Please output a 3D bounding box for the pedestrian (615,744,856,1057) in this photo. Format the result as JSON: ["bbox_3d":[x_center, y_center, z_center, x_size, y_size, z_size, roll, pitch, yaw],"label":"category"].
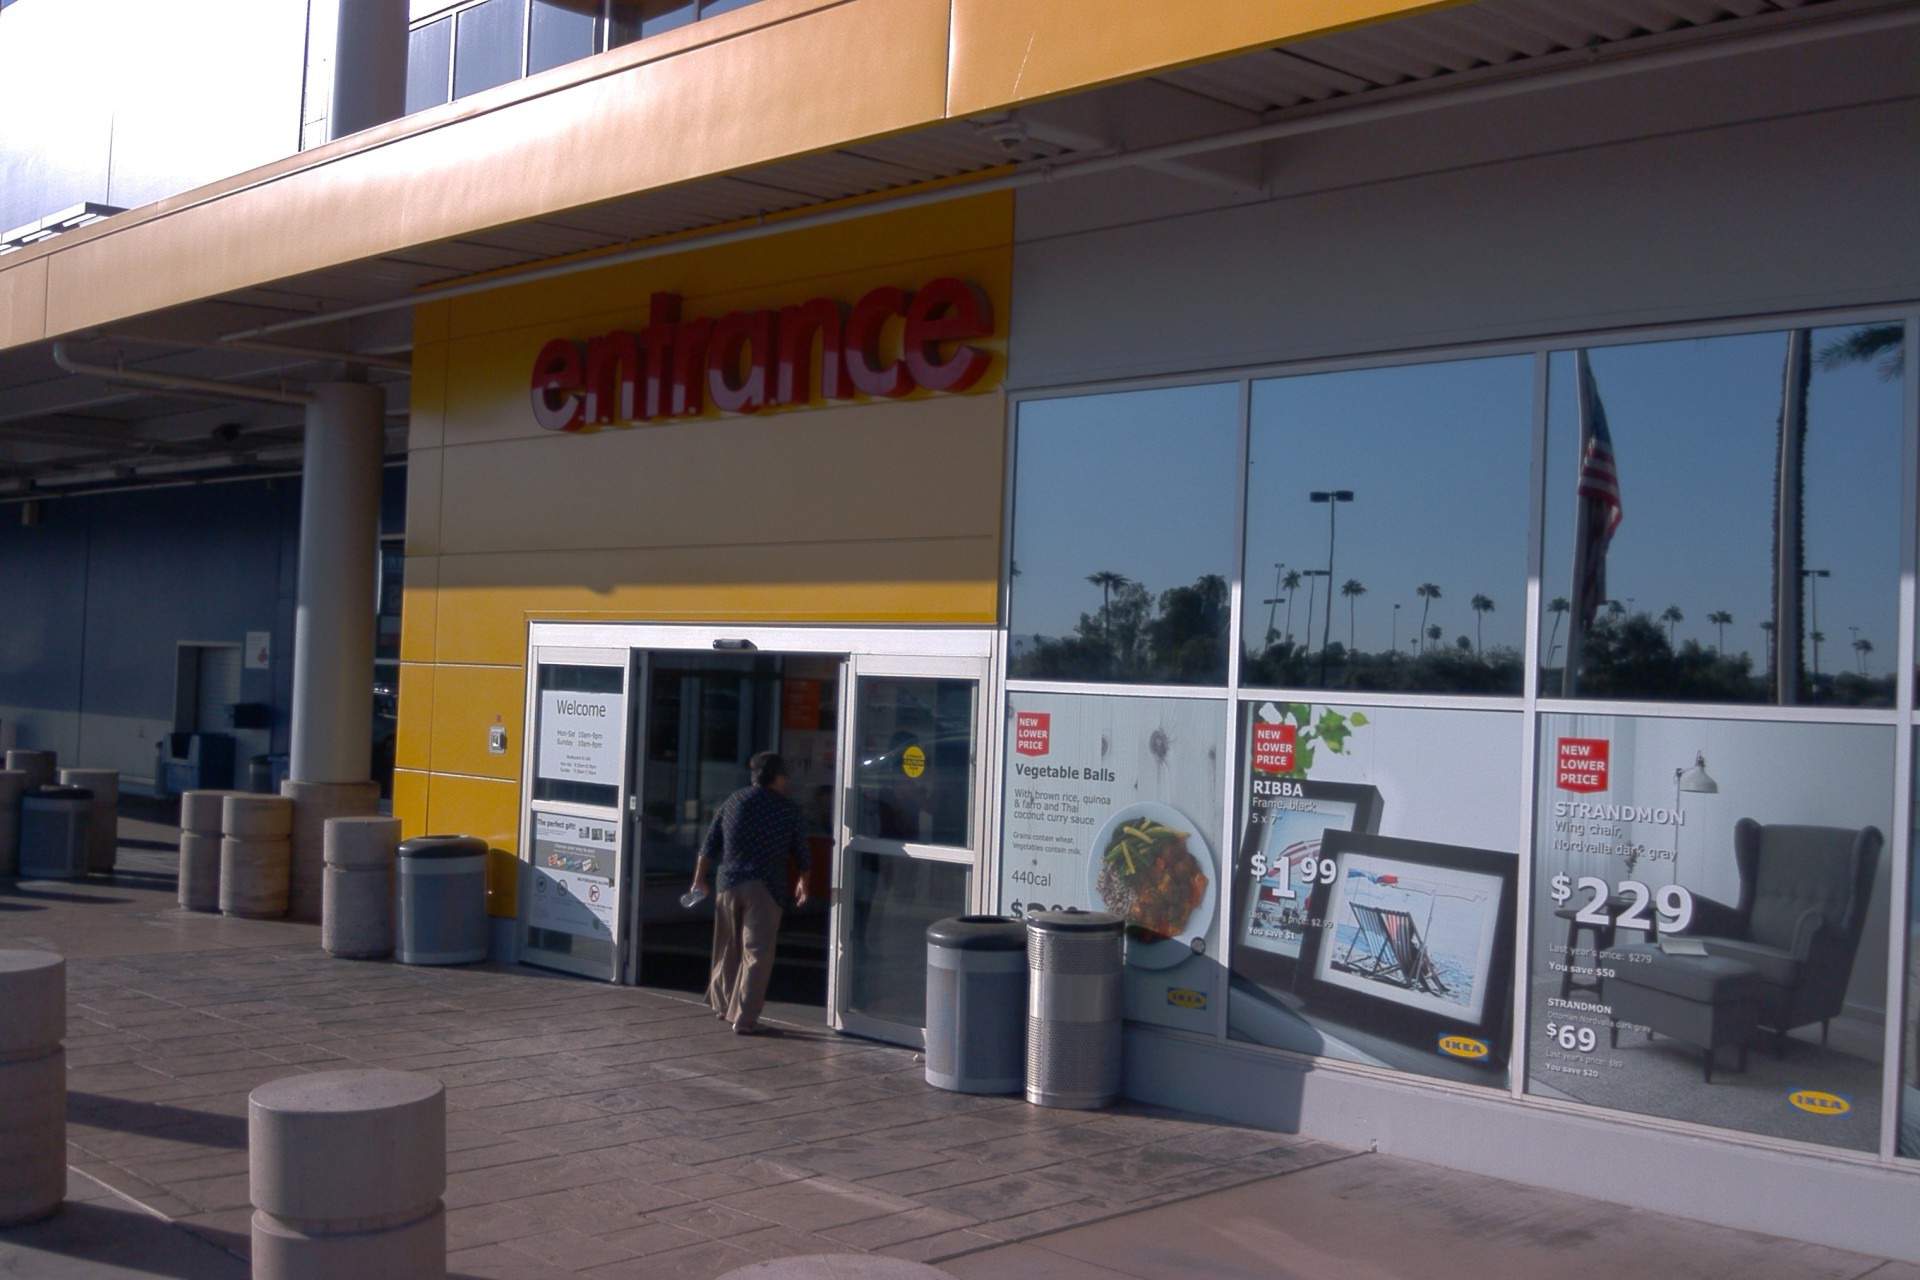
[{"bbox_3d":[-1.227,1.401,11.666,0.950,1.580,1.100,1,0,16],"label":"pedestrian"}]

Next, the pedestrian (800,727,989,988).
[{"bbox_3d":[-0.445,1.457,14.442,0.831,1.680,0.972,1,0,37],"label":"pedestrian"}]
